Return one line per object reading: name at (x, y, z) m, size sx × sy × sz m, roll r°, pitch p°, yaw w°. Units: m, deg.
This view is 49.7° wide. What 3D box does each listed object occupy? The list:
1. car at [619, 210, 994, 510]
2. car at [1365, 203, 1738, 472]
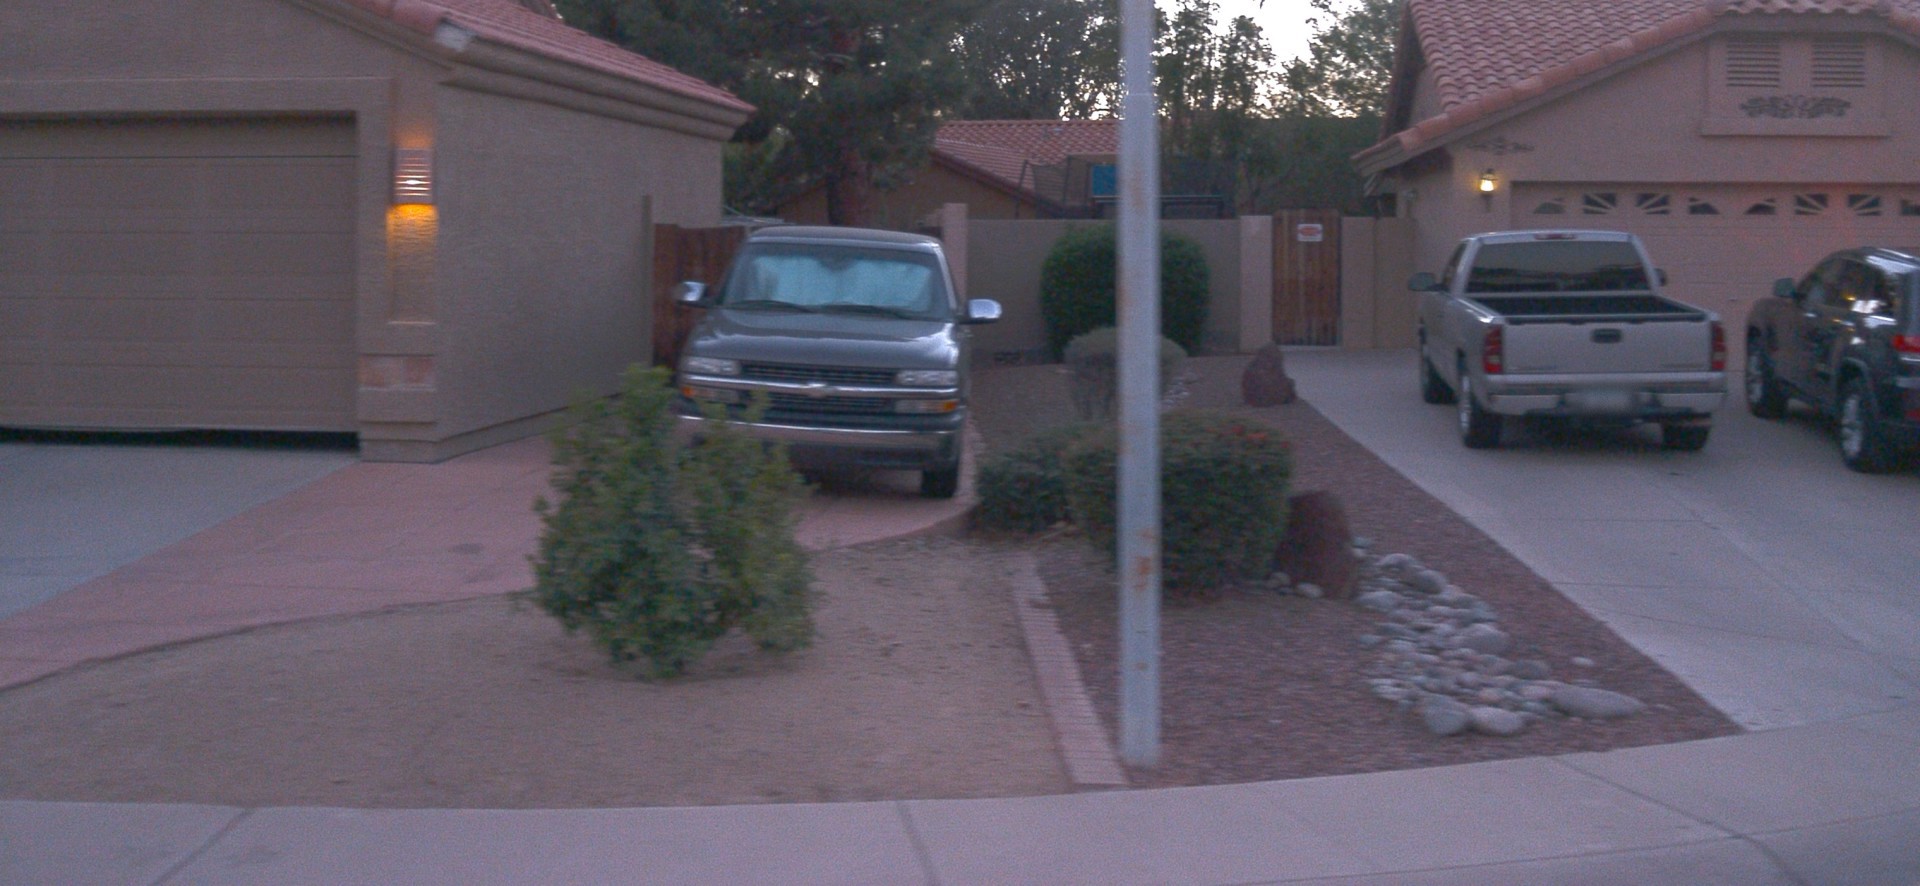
car at (-1.028, -0.857, 16.395) m, size 2.411 × 1.921 × 6.067 m, roll 0°, pitch 6°, yaw -1°
car at (5.160, -1.120, 18.942) m, size 2.399 × 2.091 × 5.222 m, roll 1°, pitch 5°, yaw 6°
